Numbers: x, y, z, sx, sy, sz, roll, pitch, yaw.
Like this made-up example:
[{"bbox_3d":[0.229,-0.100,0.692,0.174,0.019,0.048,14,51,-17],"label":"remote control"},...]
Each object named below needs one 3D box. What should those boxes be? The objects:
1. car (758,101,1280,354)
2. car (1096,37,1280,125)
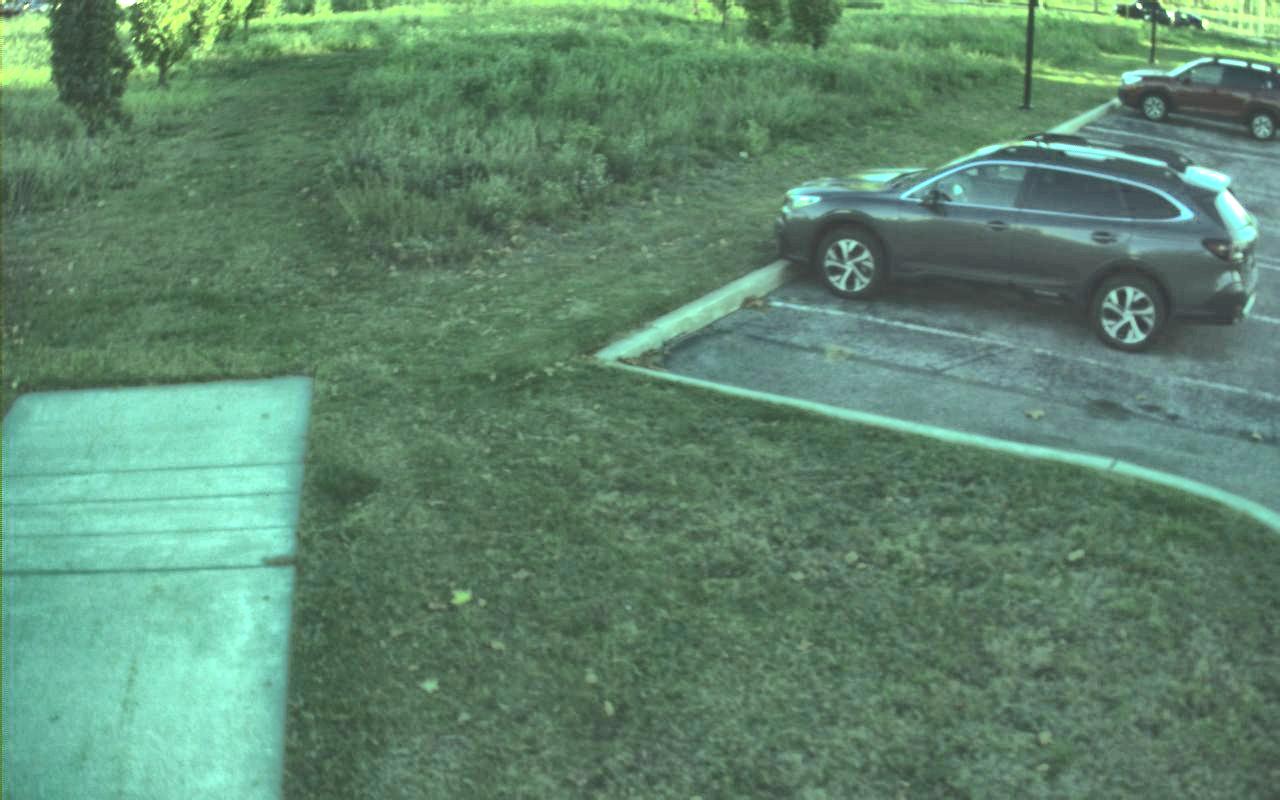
[{"bbox_3d":[3.718,-1.781,11.361,4.866,1.743,2.058,9,19,31],"label":"car"},{"bbox_3d":[12.792,-7.328,26.151,4.593,1.630,1.990,7,18,27],"label":"car"}]
